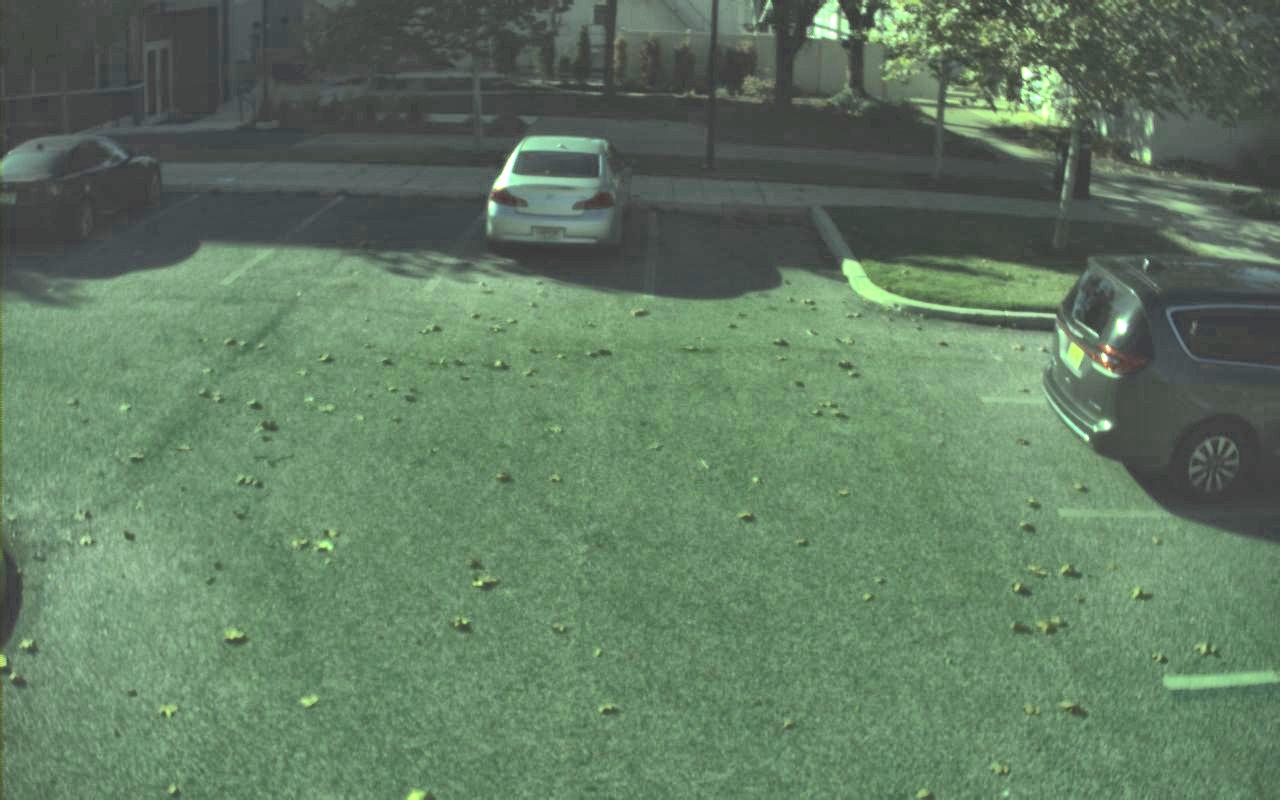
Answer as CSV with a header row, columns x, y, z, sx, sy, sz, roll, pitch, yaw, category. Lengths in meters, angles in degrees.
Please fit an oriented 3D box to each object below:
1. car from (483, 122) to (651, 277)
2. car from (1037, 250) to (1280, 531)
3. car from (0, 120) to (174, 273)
x,y,z,sx,sy,sz,roll,pitch,yaw,category
-0.875,-2.905,17.425,1.896,1.557,4.333,0,17,3,car
5.773,-0.186,9.599,4.516,1.755,1.995,-1,16,-1,car
-8.864,-3.209,17.544,1.977,1.596,4.580,-1,17,-1,car
